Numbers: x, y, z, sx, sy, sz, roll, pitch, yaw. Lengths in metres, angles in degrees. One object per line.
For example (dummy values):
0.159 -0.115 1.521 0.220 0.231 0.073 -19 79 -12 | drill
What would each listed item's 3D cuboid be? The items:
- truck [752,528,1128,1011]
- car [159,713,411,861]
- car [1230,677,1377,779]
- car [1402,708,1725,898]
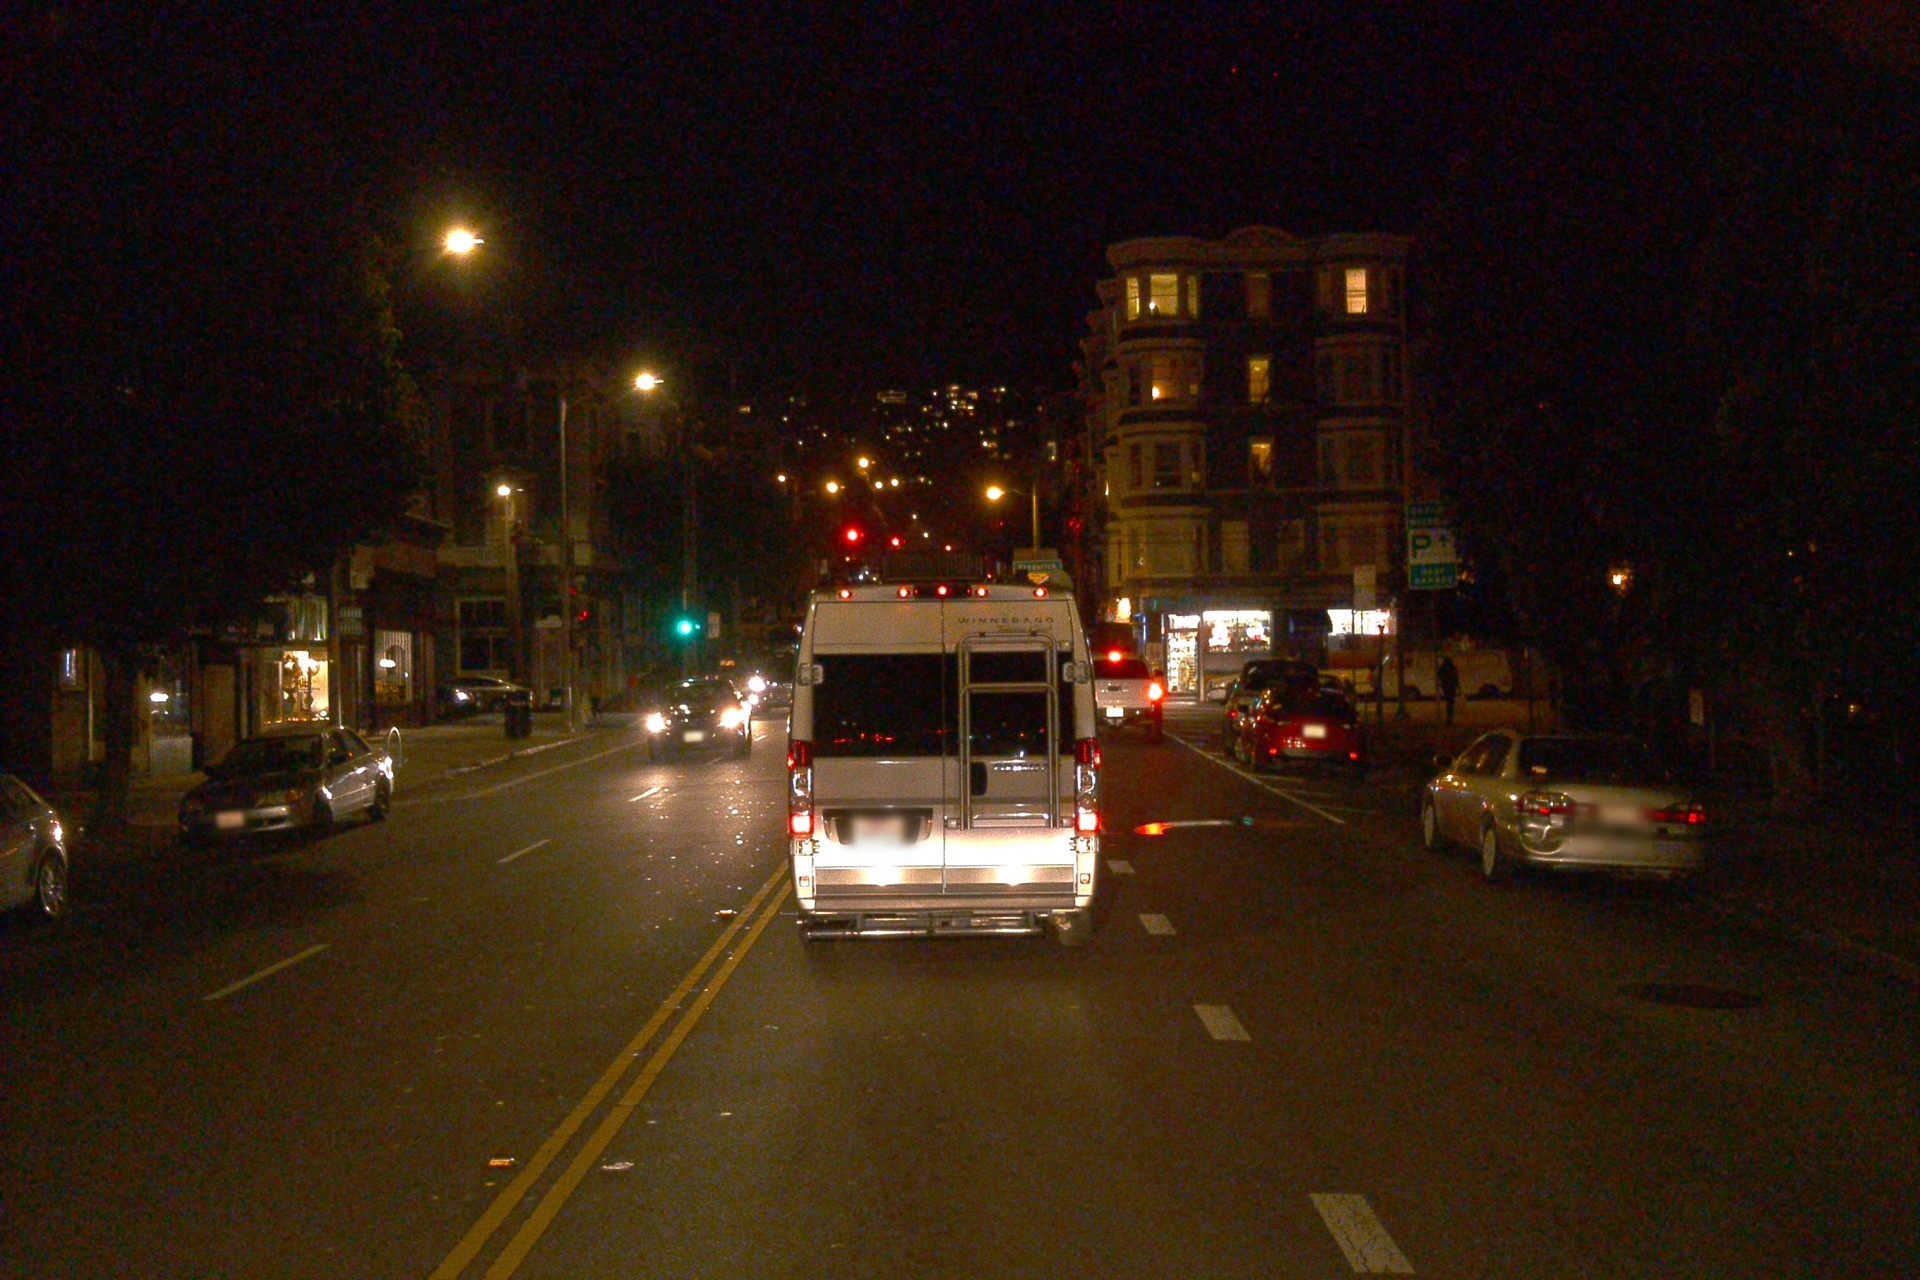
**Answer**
-0.110 0.797 15.424 2.338 3.000 5.110 0 0 0 | truck
-8.738 1.854 27.150 1.850 1.600 4.445 0 0 0 | car
5.676 1.427 34.578 1.963 1.500 4.260 0 0 3 | car
5.574 1.447 19.701 1.867 1.430 4.637 0 0 2 | car
